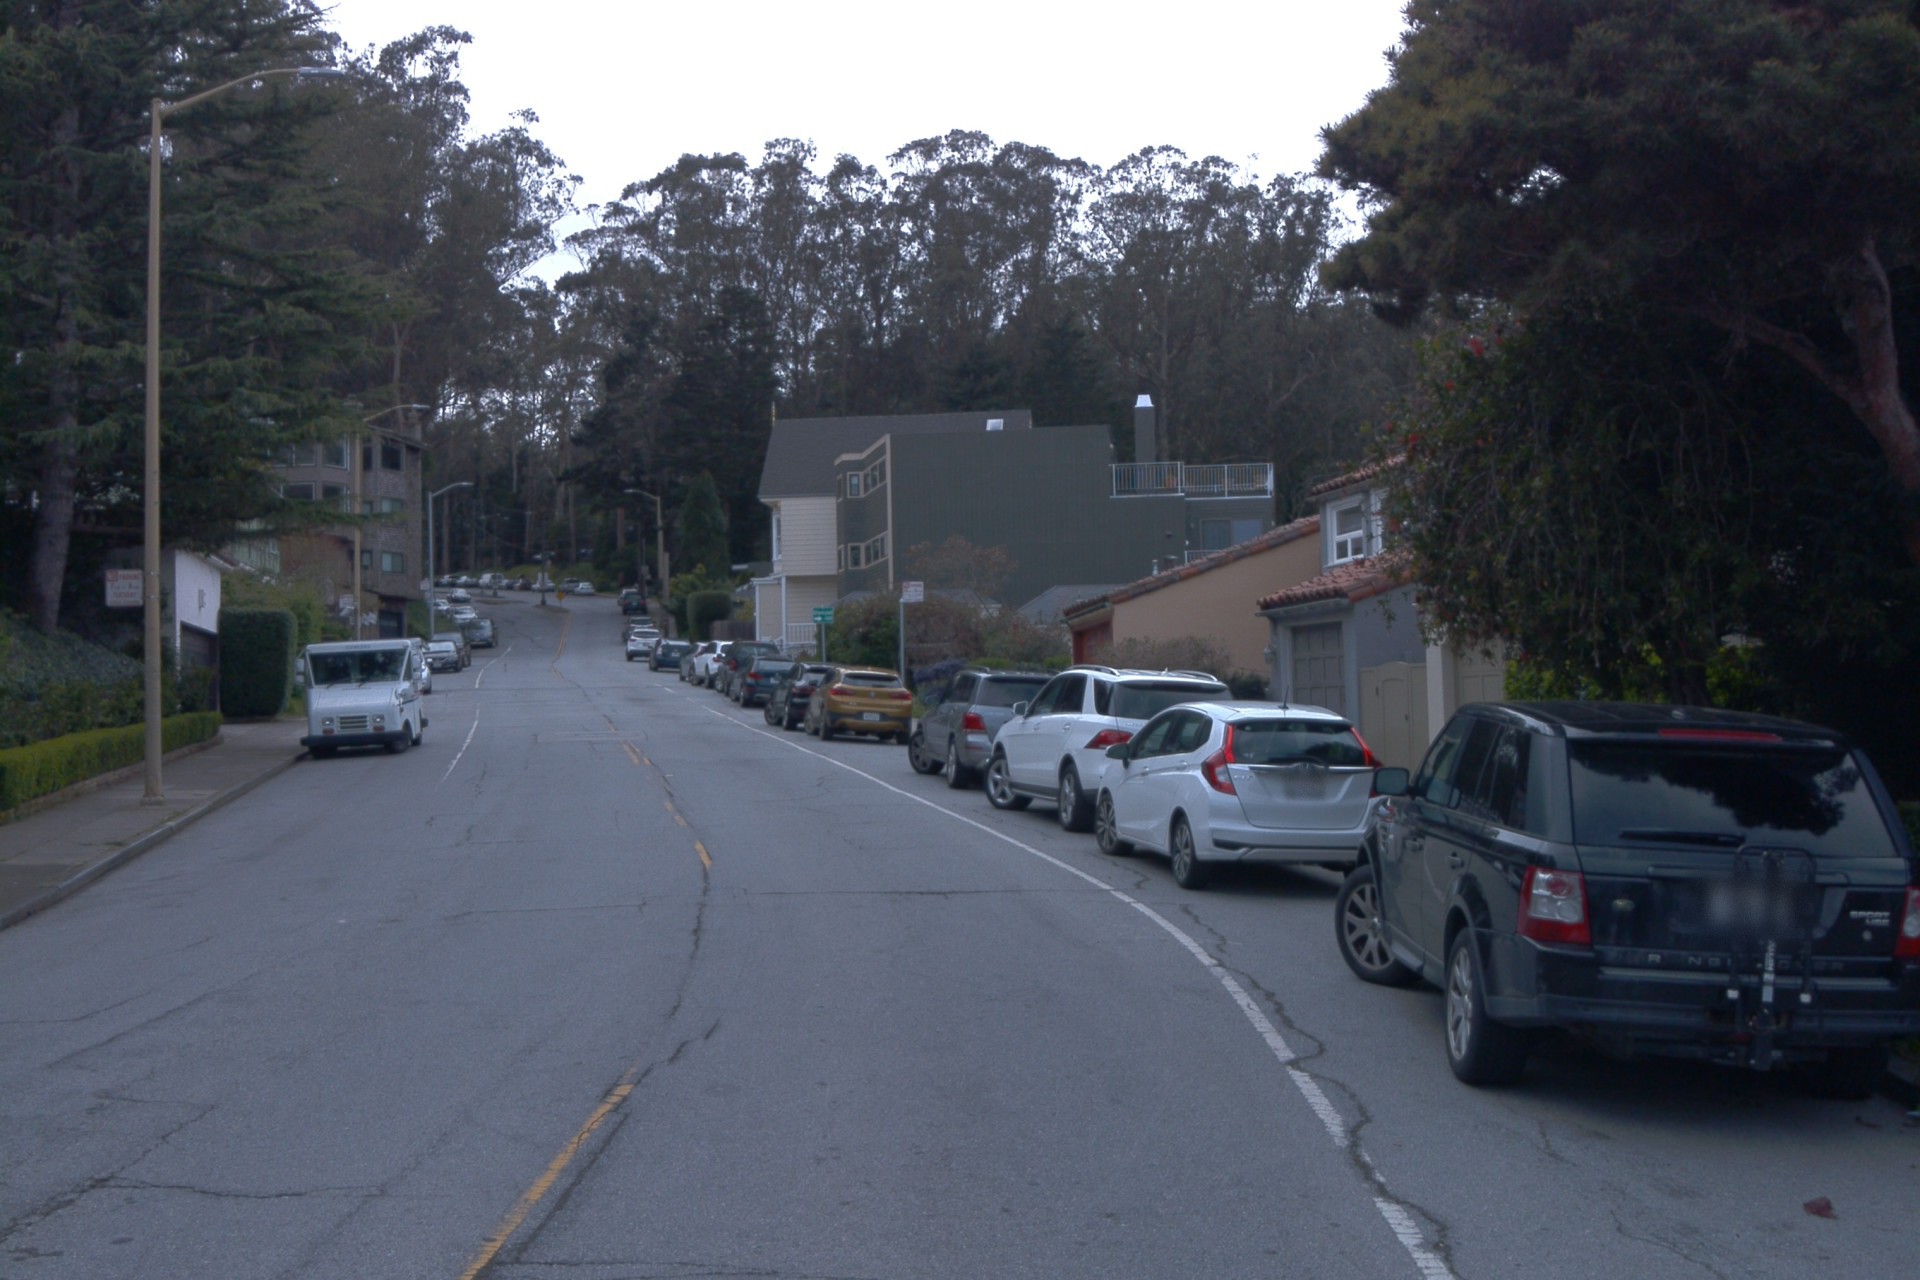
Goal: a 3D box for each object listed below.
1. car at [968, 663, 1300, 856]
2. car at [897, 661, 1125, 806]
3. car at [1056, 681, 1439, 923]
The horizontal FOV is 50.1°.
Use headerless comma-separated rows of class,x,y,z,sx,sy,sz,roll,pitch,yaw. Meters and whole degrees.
car,1.788,1.220,23.163,2.277,1.800,4.977,0,1,-13
car,0.609,1.241,29.261,2.239,1.750,4.797,0,1,-11
car,2.368,1.299,18.176,2.028,1.720,4.269,0,1,-12
